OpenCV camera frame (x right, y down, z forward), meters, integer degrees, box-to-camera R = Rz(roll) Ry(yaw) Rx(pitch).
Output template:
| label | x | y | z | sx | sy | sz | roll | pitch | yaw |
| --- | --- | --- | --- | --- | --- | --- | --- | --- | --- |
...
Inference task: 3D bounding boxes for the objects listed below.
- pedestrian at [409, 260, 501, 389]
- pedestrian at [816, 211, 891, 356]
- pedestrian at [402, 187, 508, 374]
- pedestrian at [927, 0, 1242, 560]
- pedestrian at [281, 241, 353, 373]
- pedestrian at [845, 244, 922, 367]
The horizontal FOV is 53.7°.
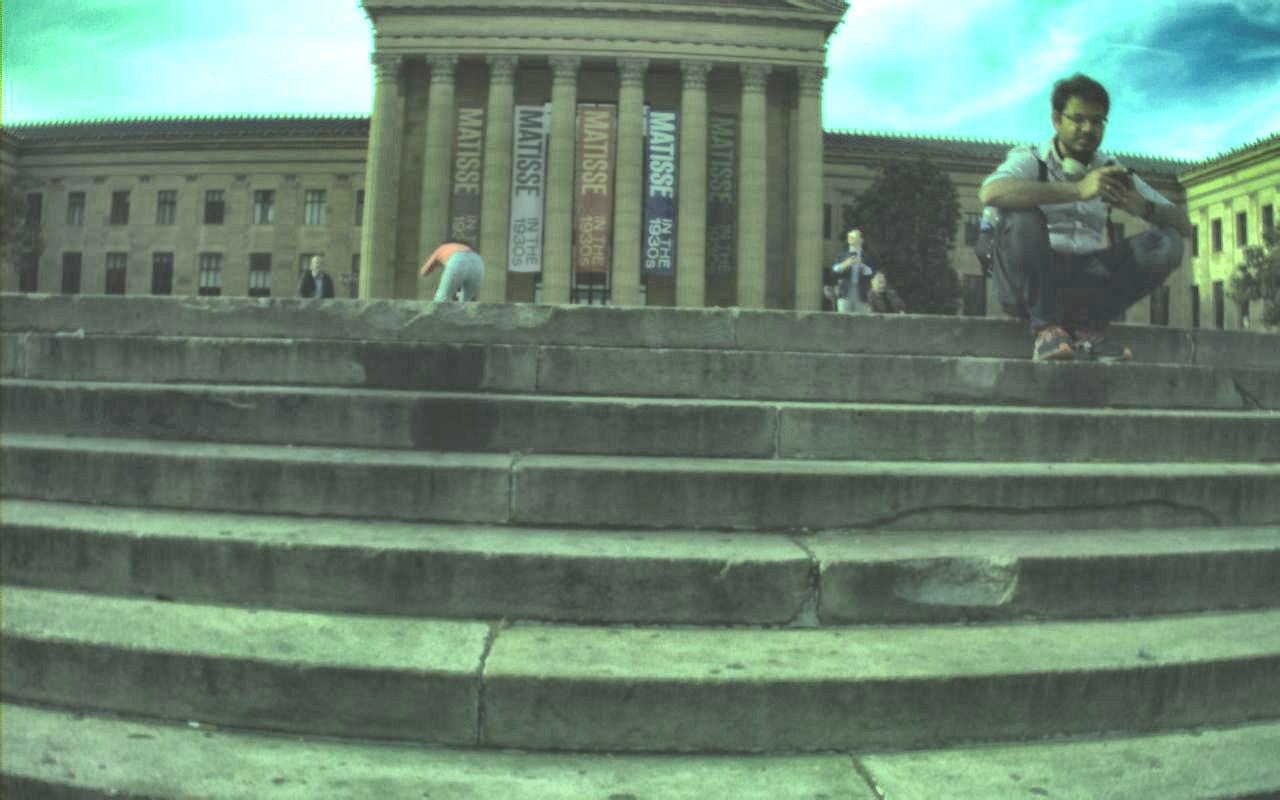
| label | x | y | z | sx | sy | sz | roll | pitch | yaw |
| --- | --- | --- | --- | --- | --- | --- | --- | --- | --- |
| pedestrian | -2.415 | -0.961 | 16.345 | 0.830 | 1.624 | 0.860 | 1 | 0 | 33 |
| pedestrian | 2.665 | -1.427 | 15.626 | 0.793 | 1.753 | 0.775 | 0 | 0 | -4 |
| pedestrian | -1.770 | -1.102 | 11.875 | 0.755 | 1.705 | 0.804 | 0 | 0 | -30 |
| pedestrian | 1.438 | -0.390 | 3.840 | 0.789 | 1.675 | 0.743 | 0 | 0 | -12 |
| pedestrian | -4.270 | -1.192 | 16.141 | 0.792 | 1.698 | 0.776 | 0 | 0 | -27 |
| pedestrian | 3.254 | -1.234 | 16.679 | 0.795 | 1.601 | 0.793 | 0 | 0 | -13 |
